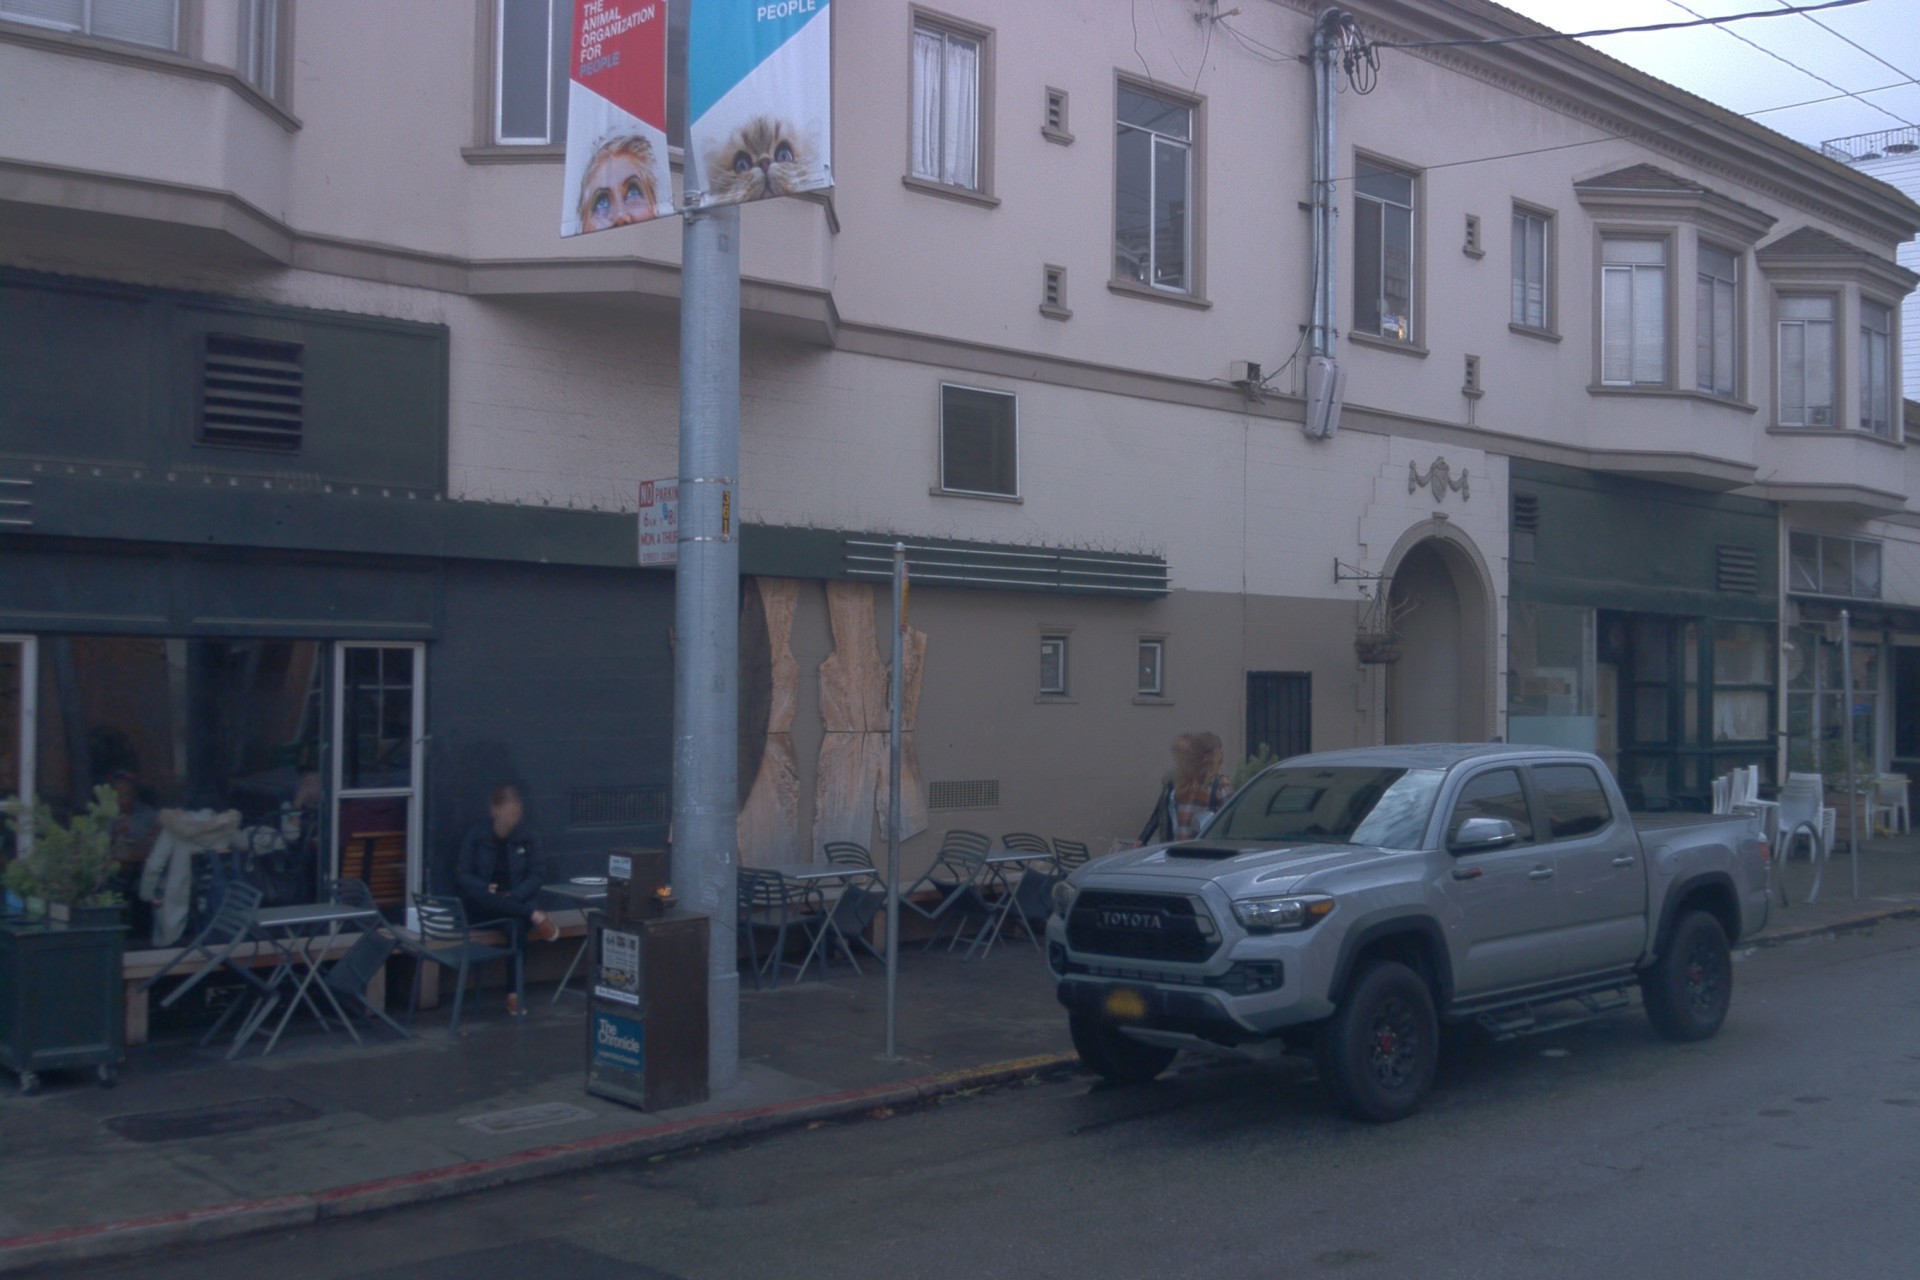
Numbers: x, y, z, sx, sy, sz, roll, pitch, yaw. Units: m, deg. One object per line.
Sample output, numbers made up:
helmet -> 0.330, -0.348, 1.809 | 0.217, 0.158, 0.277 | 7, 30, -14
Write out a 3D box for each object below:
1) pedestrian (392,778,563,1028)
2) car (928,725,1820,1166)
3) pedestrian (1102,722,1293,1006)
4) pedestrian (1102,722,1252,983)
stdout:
pedestrian -> -2.923, 1.560, 12.564 | 0.778, 1.400, 0.647 | 2, -1, -38
car -> 2.615, 1.443, 11.816 | 5.600, 1.810, 2.202 | 2, -1, -45
pedestrian -> 1.612, 1.475, 14.060 | 0.805, 1.800, 1.002 | 0, -1, 44
pedestrian -> 1.609, 1.544, 15.397 | 0.827, 1.840, 0.701 | 2, -1, -40
